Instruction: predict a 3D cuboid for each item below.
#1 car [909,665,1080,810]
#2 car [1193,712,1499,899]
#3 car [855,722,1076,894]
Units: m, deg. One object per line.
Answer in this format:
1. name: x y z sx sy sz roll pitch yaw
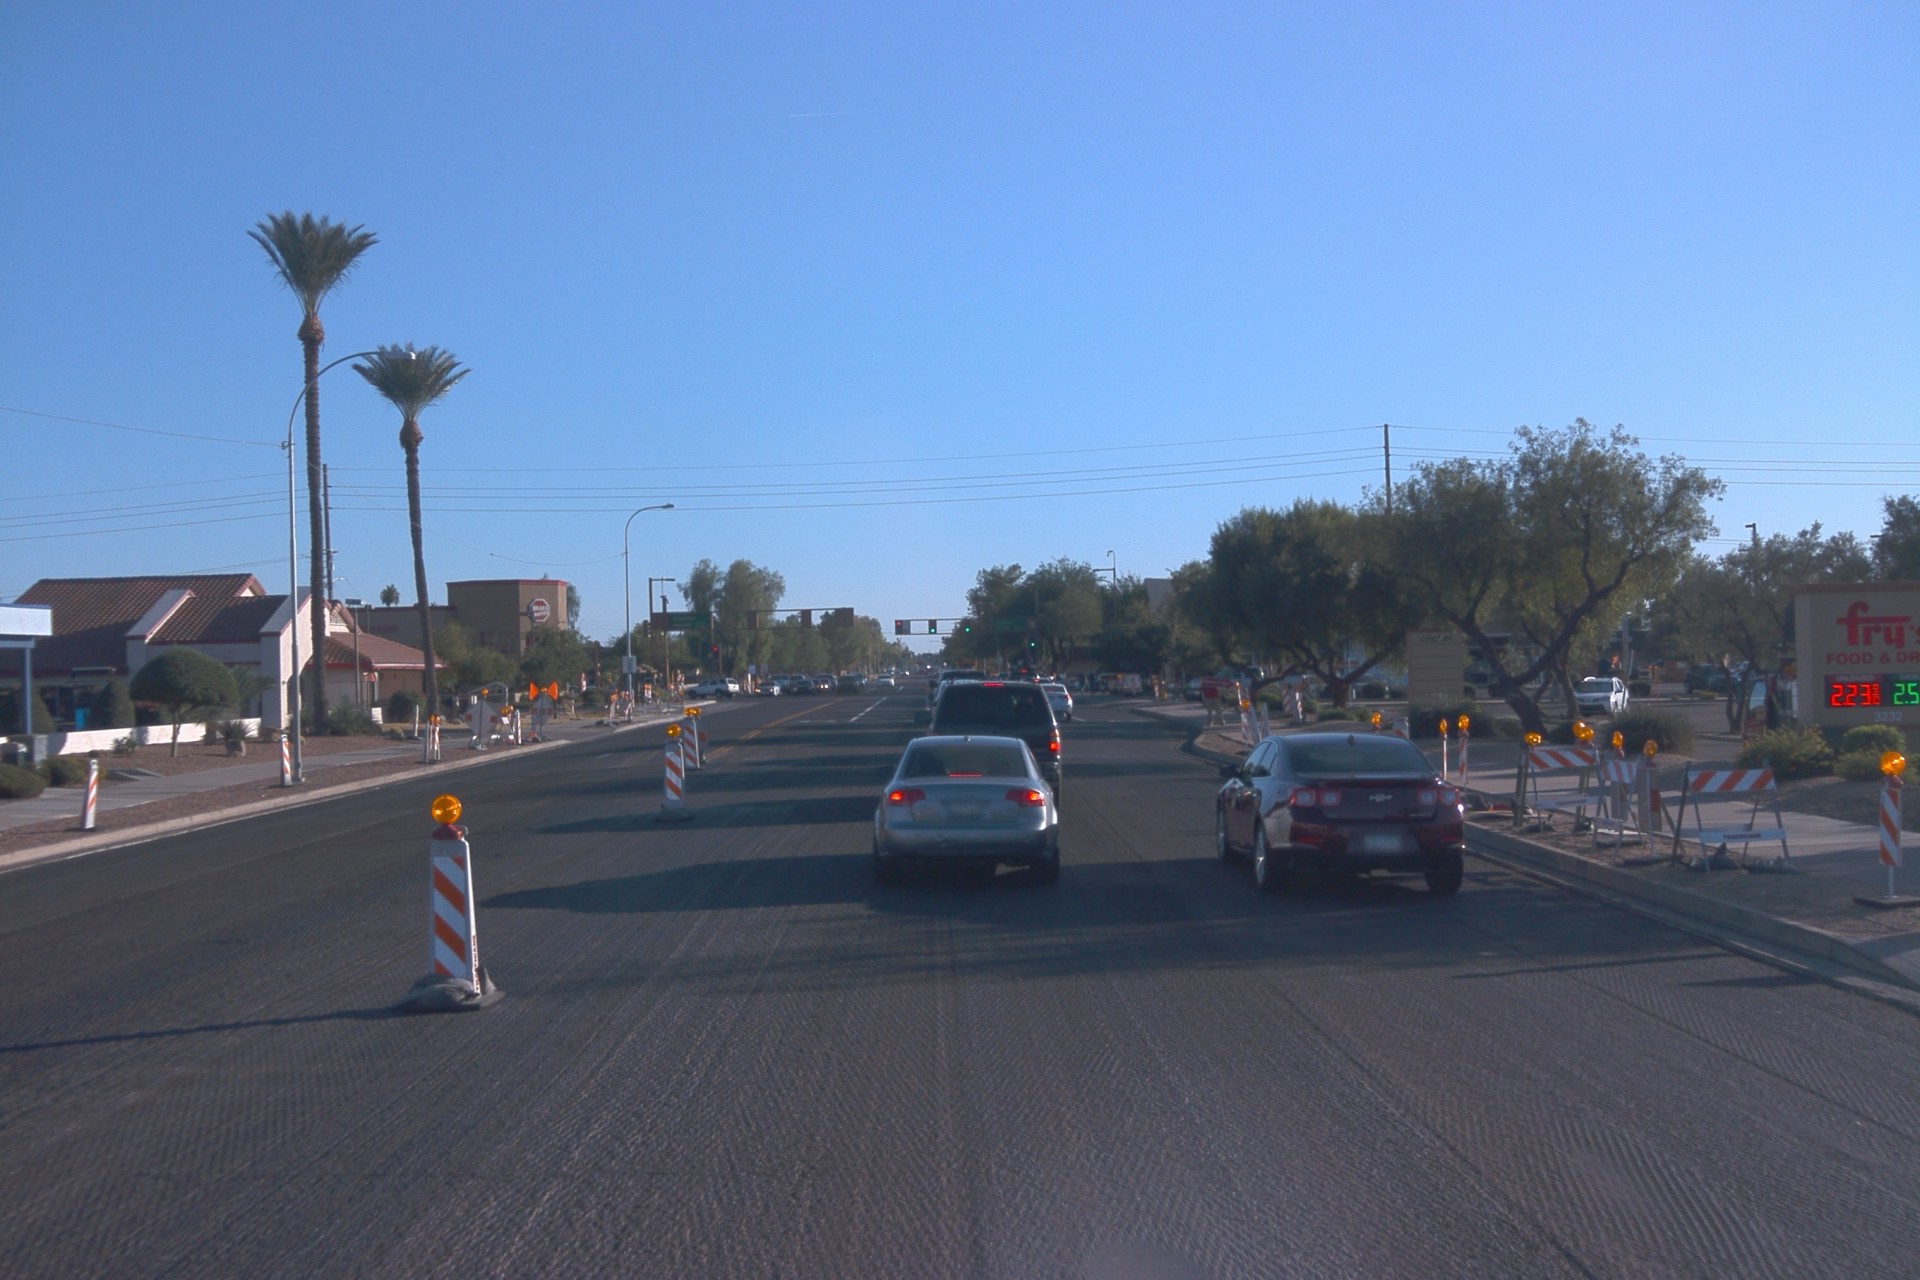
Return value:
1. car: 0.475 1.406 31.697 2.405 2.040 5.061 0 -1 0
2. car: 3.653 1.534 20.626 2.110 1.540 4.833 0 -1 0
3. car: 0.083 1.630 21.311 2.033 1.480 4.402 0 -1 1
